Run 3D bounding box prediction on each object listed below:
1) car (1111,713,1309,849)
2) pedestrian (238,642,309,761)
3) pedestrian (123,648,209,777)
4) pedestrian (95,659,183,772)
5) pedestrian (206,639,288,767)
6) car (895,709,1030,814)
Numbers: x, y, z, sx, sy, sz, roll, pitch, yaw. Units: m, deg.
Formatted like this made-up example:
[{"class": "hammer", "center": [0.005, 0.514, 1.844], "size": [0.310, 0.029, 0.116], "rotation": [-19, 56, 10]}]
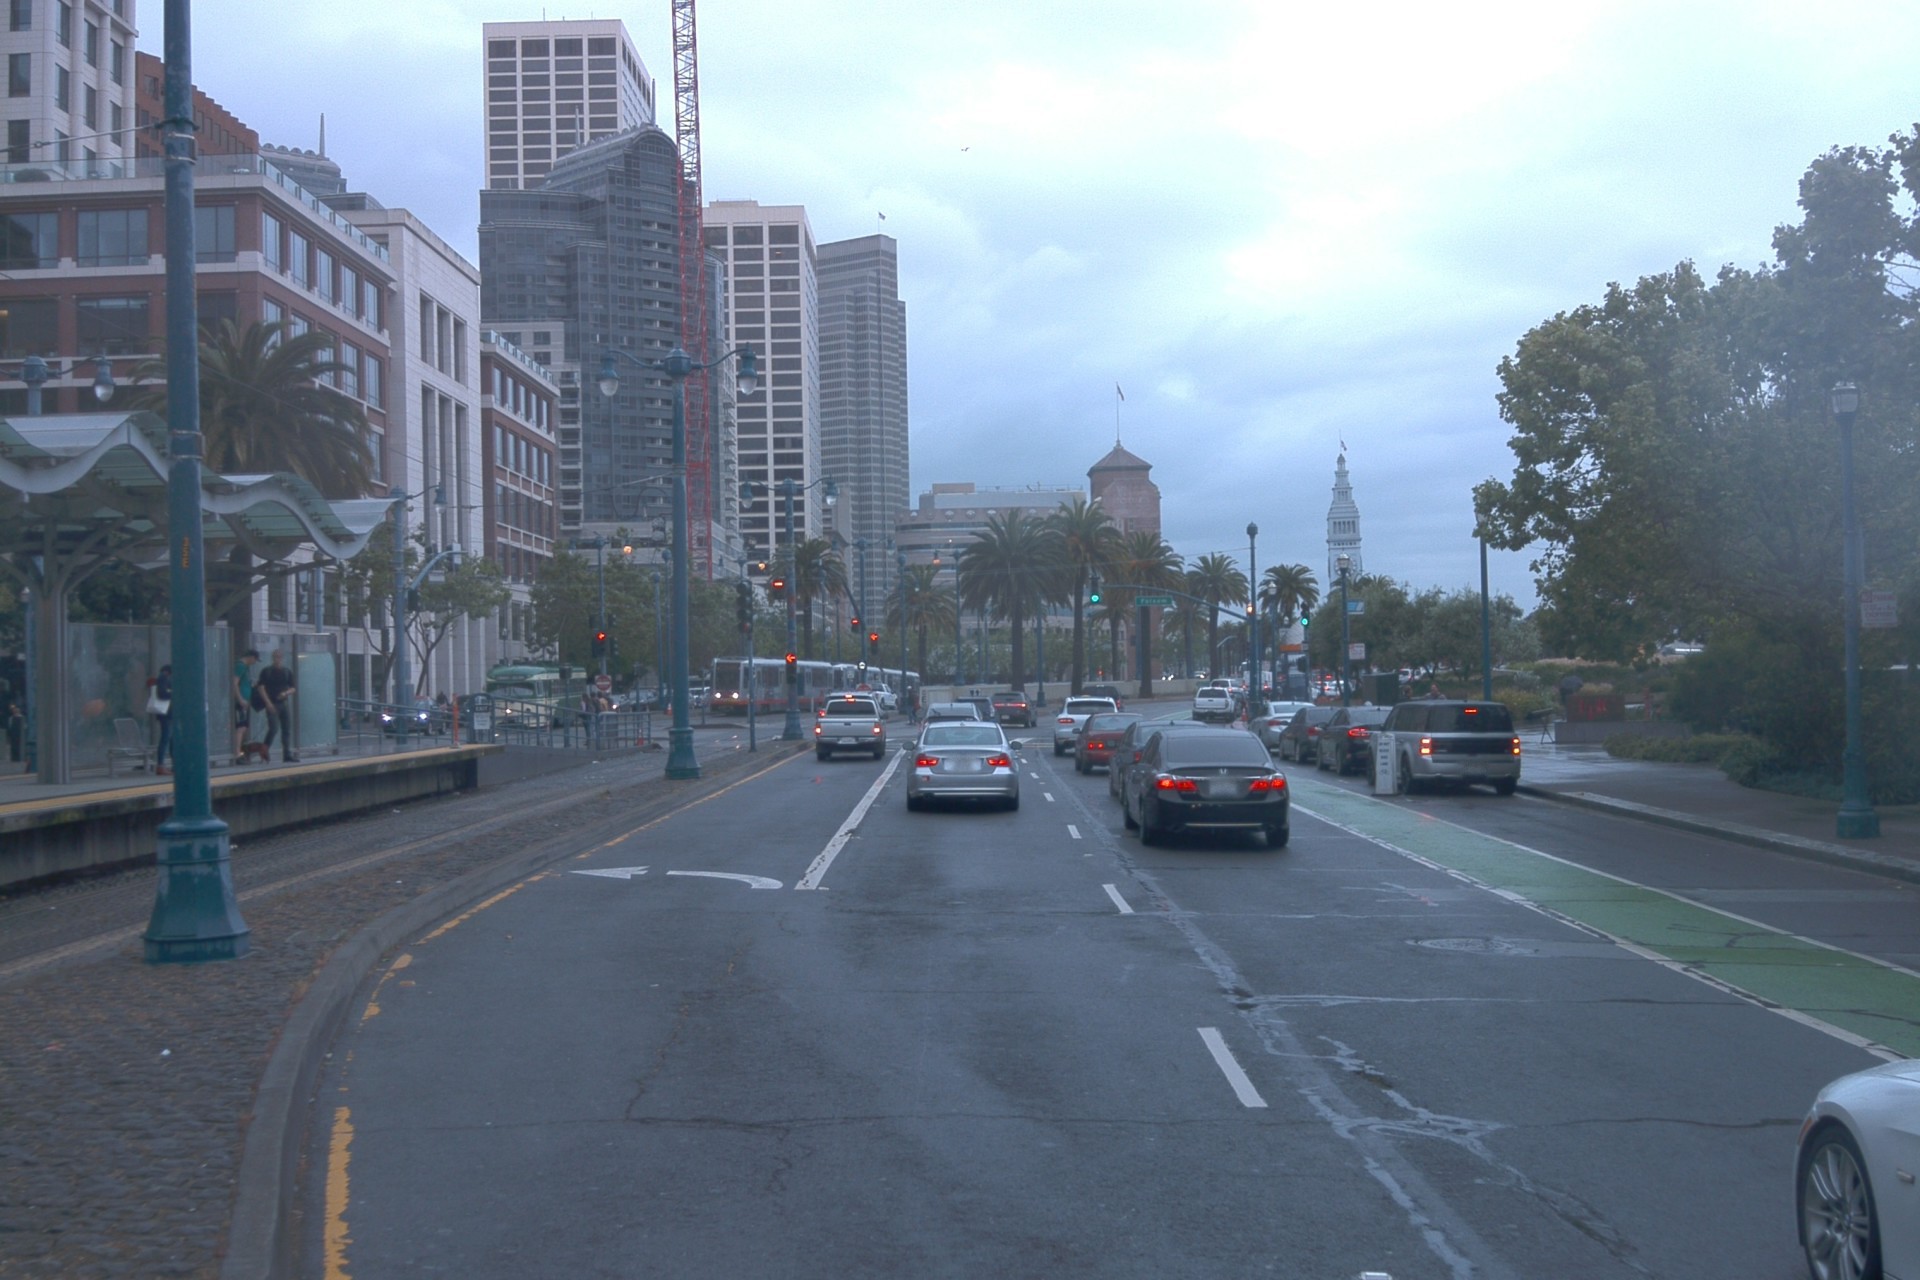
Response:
[{"class": "car", "center": [3.170, 1.775, 27.218], "size": [2.069, 1.540, 4.627], "rotation": [0, -1, 0]}, {"class": "pedestrian", "center": [-11.071, 0.980, 33.430], "size": [0.893, 1.890, 0.896], "rotation": [0, -1, -31]}, {"class": "pedestrian", "center": [-11.021, 0.999, 28.807], "size": [0.871, 1.770, 0.835], "rotation": [0, -1, 0]}, {"class": "pedestrian", "center": [-12.332, 1.119, 31.164], "size": [0.833, 1.670, 0.894], "rotation": [0, -1, 26]}, {"class": "pedestrian", "center": [-11.145, 0.978, 32.428], "size": [0.891, 1.960, 0.835], "rotation": [-1, -1, 33]}, {"class": "car", "center": [0.048, 1.941, 34.077], "size": [2.067, 1.510, 4.625], "rotation": [0, -1, 0]}]
